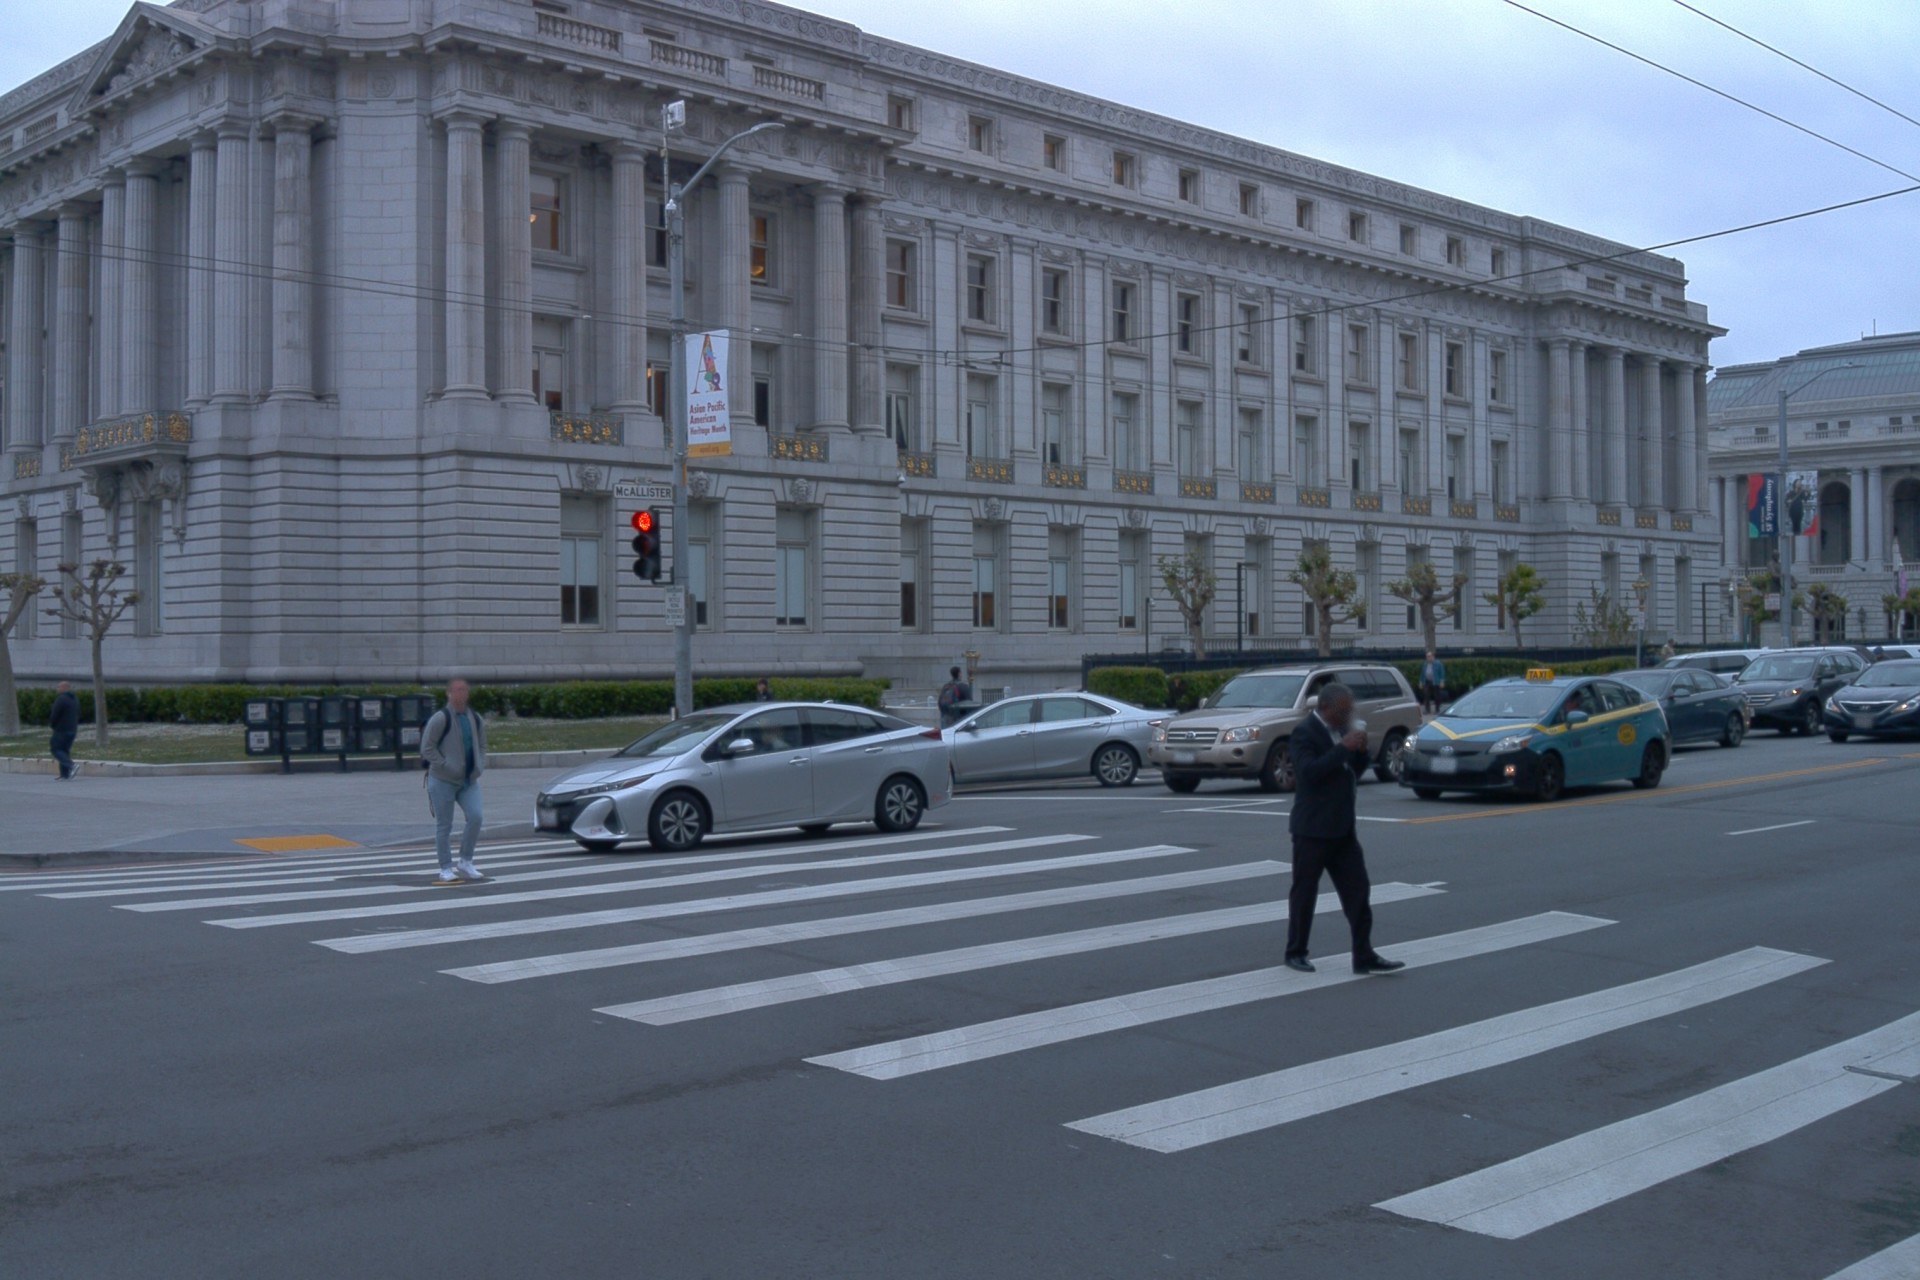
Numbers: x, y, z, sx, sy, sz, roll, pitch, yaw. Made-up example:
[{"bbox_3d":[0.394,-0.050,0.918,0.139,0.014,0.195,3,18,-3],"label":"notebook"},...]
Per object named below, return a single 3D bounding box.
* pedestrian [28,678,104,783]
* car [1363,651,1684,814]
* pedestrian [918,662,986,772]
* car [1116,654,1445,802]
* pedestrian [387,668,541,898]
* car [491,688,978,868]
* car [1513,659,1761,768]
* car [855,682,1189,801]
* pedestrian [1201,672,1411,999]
[{"bbox_3d":[-15.355,1.548,35.475,0.919,1.757,0.757,0,1,16],"label":"pedestrian"},{"bbox_3d":[7.115,1.068,25.858,2.040,1.787,4.328,1,1,44],"label":"car"},{"bbox_3d":[-0.140,1.313,35.822,0.806,1.850,0.871,0,1,39],"label":"pedestrian"},{"bbox_3d":[4.530,1.135,28.697,2.180,1.800,4.766,1,1,44],"label":"car"},{"bbox_3d":[-4.236,1.180,17.607,0.805,1.850,1.160,-1,1,-43],"label":"pedestrian"},{"bbox_3d":[-2.287,1.348,21.679,4.666,1.540,2.143,-1,1,-39],"label":"car"},{"bbox_3d":[11.594,1.185,35.195,2.141,1.627,4.788,1,1,44],"label":"car"},{"bbox_3d":[0.951,1.510,31.440,4.904,1.667,2.106,0,1,4],"label":"car"},{"bbox_3d":[2.086,1.132,12.467,0.806,1.850,0.958,-1,1,-43],"label":"pedestrian"}]
